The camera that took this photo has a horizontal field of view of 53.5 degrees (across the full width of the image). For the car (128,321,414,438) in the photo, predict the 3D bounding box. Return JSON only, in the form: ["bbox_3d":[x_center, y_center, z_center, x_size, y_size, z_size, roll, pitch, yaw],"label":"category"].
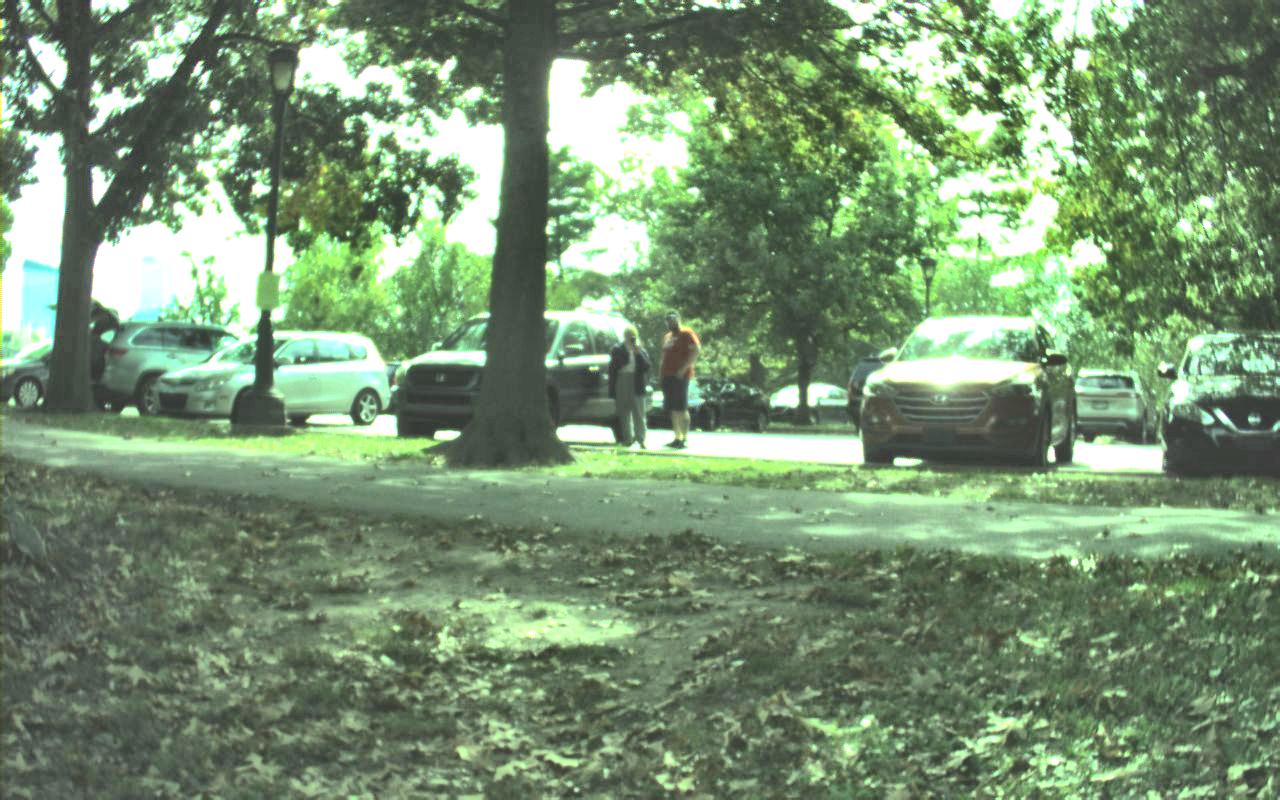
[{"bbox_3d":[-5.847,-0.327,19.518,1.970,1.667,4.615,1,1,31],"label":"car"}]

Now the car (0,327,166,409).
[{"bbox_3d":[-12.238,-0.602,24.185,1.948,1.605,4.416,1,1,34],"label":"car"}]

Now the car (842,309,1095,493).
[{"bbox_3d":[3.728,-0.035,13.207,1.943,1.639,4.404,1,1,26],"label":"car"}]

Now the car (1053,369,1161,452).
[{"bbox_3d":[10.504,0.214,26.732,1.968,1.688,4.486,1,1,28],"label":"car"}]

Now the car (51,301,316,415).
[{"bbox_3d":[-8.067,-0.684,21.013,1.978,1.822,4.559,1,1,40],"label":"car"}]

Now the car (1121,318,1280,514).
[{"bbox_3d":[6.127,0.111,11.324,1.944,1.593,4.465,1,1,35],"label":"car"}]

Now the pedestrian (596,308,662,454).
[{"bbox_3d":[-0.151,-0.241,16.147,0.774,1.815,0.756,0,0,-4],"label":"pedestrian"}]

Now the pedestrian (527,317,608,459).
[{"bbox_3d":[-0.891,-0.149,15.374,0.781,1.666,0.772,0,0,-20],"label":"pedestrian"}]

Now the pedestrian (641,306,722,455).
[{"bbox_3d":[0.546,-0.256,16.492,0.766,1.869,0.759,1,0,32],"label":"pedestrian"}]

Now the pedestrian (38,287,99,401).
[{"bbox_3d":[-9.709,-0.886,19.440,0.968,1.880,0.890,0,0,-37],"label":"pedestrian"}]

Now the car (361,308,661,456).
[{"bbox_3d":[-1.499,-0.253,16.244,1.958,1.620,4.449,1,1,23],"label":"car"}]
